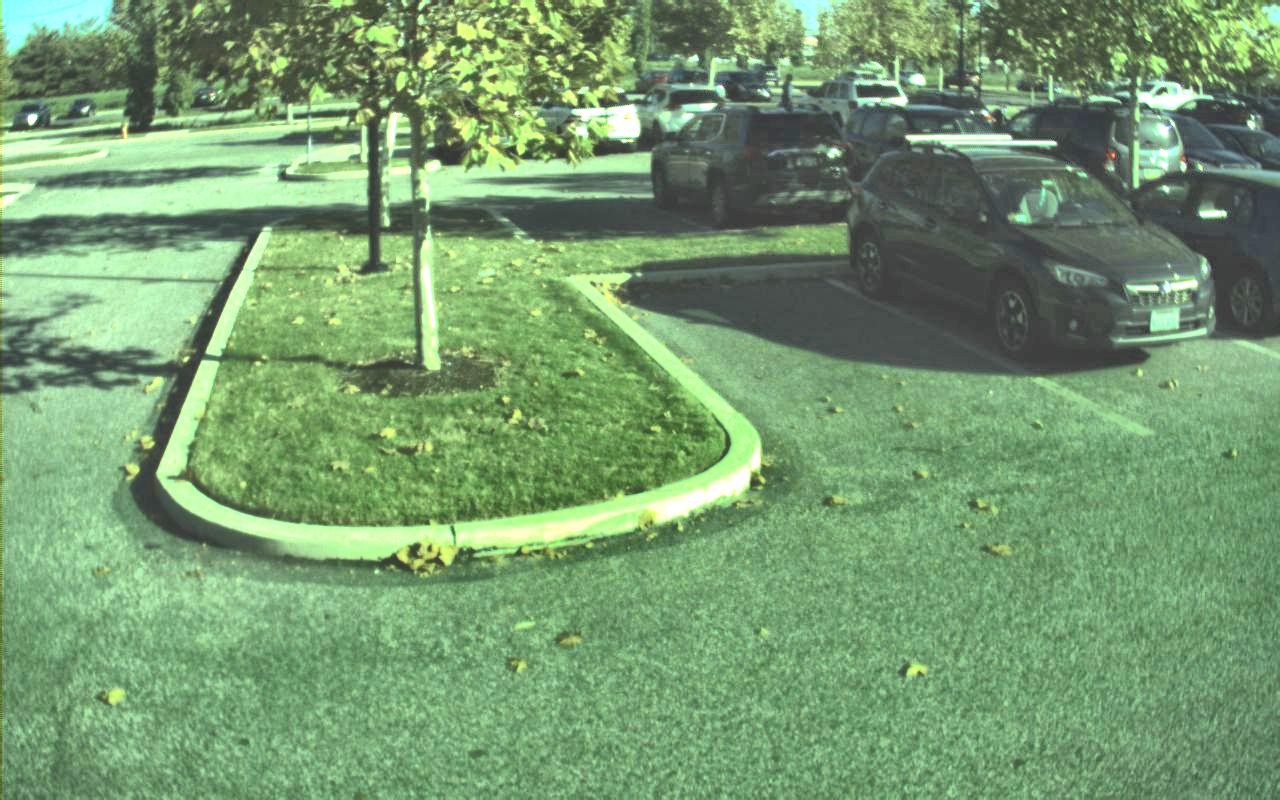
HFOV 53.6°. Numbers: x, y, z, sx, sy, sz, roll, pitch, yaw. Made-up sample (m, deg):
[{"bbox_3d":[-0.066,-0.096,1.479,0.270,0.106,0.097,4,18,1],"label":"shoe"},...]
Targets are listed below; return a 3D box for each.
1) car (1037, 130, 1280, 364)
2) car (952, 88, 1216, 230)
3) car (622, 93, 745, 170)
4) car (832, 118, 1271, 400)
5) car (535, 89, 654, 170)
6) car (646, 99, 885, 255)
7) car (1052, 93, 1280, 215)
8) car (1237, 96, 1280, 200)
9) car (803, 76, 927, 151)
[{"bbox_3d":[6.084,-1.746,11.891,1.934,1.598,4.399,-6,17,-16],"label":"car"},{"bbox_3d":[7.042,-3.970,19.115,2.029,1.745,4.633,-6,17,-17],"label":"car"},{"bbox_3d":[1.072,-7.204,33.120,1.973,1.653,4.550,-6,17,-15],"label":"car"},{"bbox_3d":[3.547,-1.526,11.057,1.951,1.709,4.548,-6,17,-15],"label":"car"},{"bbox_3d":[-1.281,-7.086,32.290,2.011,1.694,4.645,-6,17,-15],"label":"car"},{"bbox_3d":[1.724,-3.503,18.790,2.025,1.751,4.746,-6,17,-15],"label":"car"},{"bbox_3d":[9.404,-4.416,20.516,1.937,1.609,4.416,-8,18,-22],"label":"car"},{"bbox_3d":[14.656,-5.287,22.883,1.964,1.617,4.568,-4,17,-11],"label":"car"},{"bbox_3d":[6.220,-8.069,34.420,2.028,1.758,4.704,-4,17,-9],"label":"car"}]
